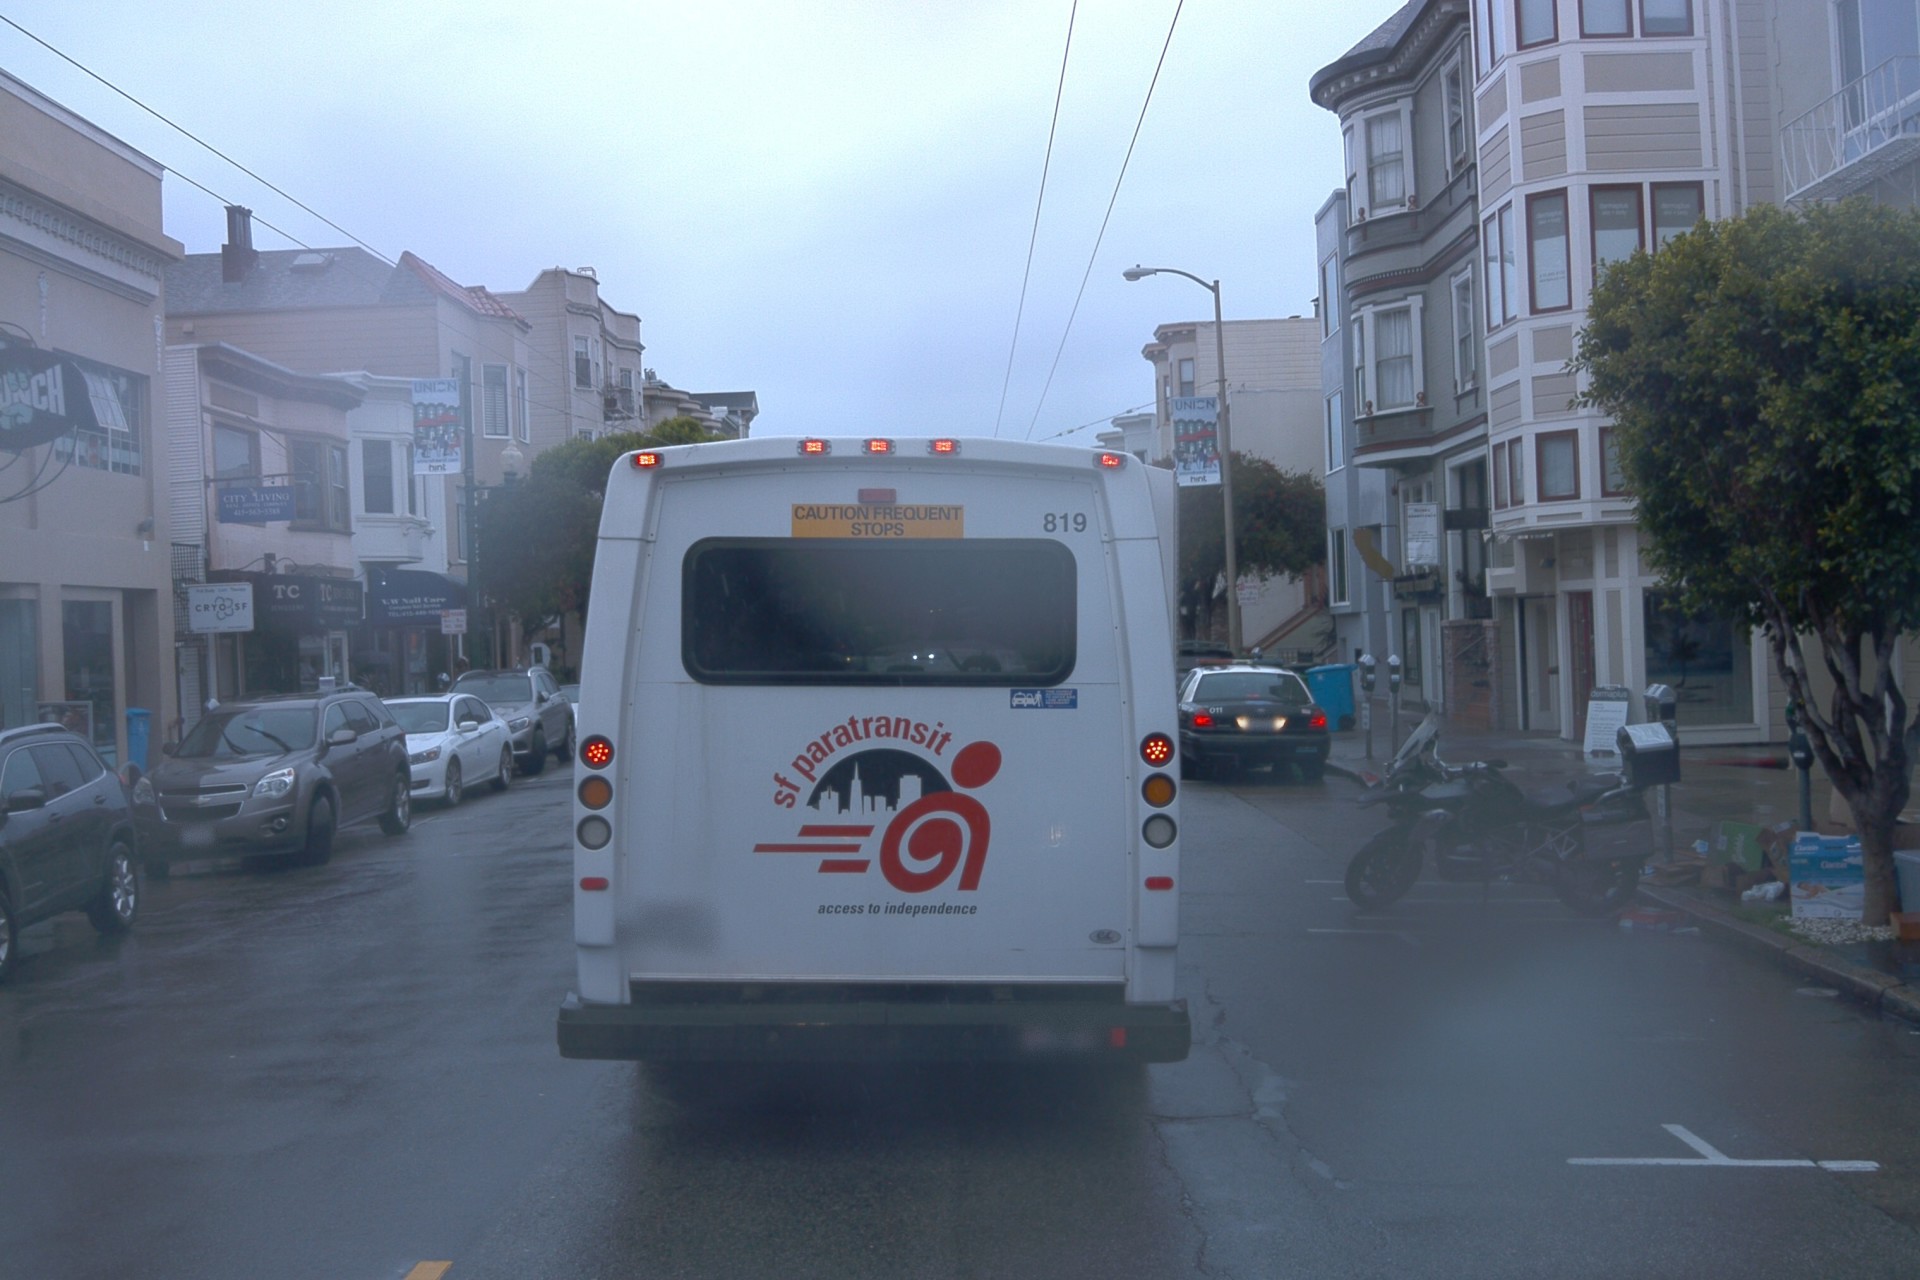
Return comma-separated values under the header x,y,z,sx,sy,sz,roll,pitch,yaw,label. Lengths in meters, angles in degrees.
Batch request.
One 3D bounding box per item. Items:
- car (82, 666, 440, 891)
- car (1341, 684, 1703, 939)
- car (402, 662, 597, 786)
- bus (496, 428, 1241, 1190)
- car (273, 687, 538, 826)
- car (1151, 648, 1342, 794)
x,y,z,sx,sy,sz,roll,pitch,yaw,label
-7.158,1.326,21.727,2.065,1.960,4.992,1,1,0,car
3.928,1.168,14.593,2.374,1.650,1.013,1,1,12,car
-7.444,1.302,33.847,2.149,1.760,4.917,1,1,-1,car
-0.359,0.604,11.140,2.787,2.850,6.706,1,1,0,bus
-7.432,1.506,28.215,2.131,1.540,5.131,1,1,1,car
3.776,1.007,28.070,2.108,1.690,5.363,1,1,3,car
